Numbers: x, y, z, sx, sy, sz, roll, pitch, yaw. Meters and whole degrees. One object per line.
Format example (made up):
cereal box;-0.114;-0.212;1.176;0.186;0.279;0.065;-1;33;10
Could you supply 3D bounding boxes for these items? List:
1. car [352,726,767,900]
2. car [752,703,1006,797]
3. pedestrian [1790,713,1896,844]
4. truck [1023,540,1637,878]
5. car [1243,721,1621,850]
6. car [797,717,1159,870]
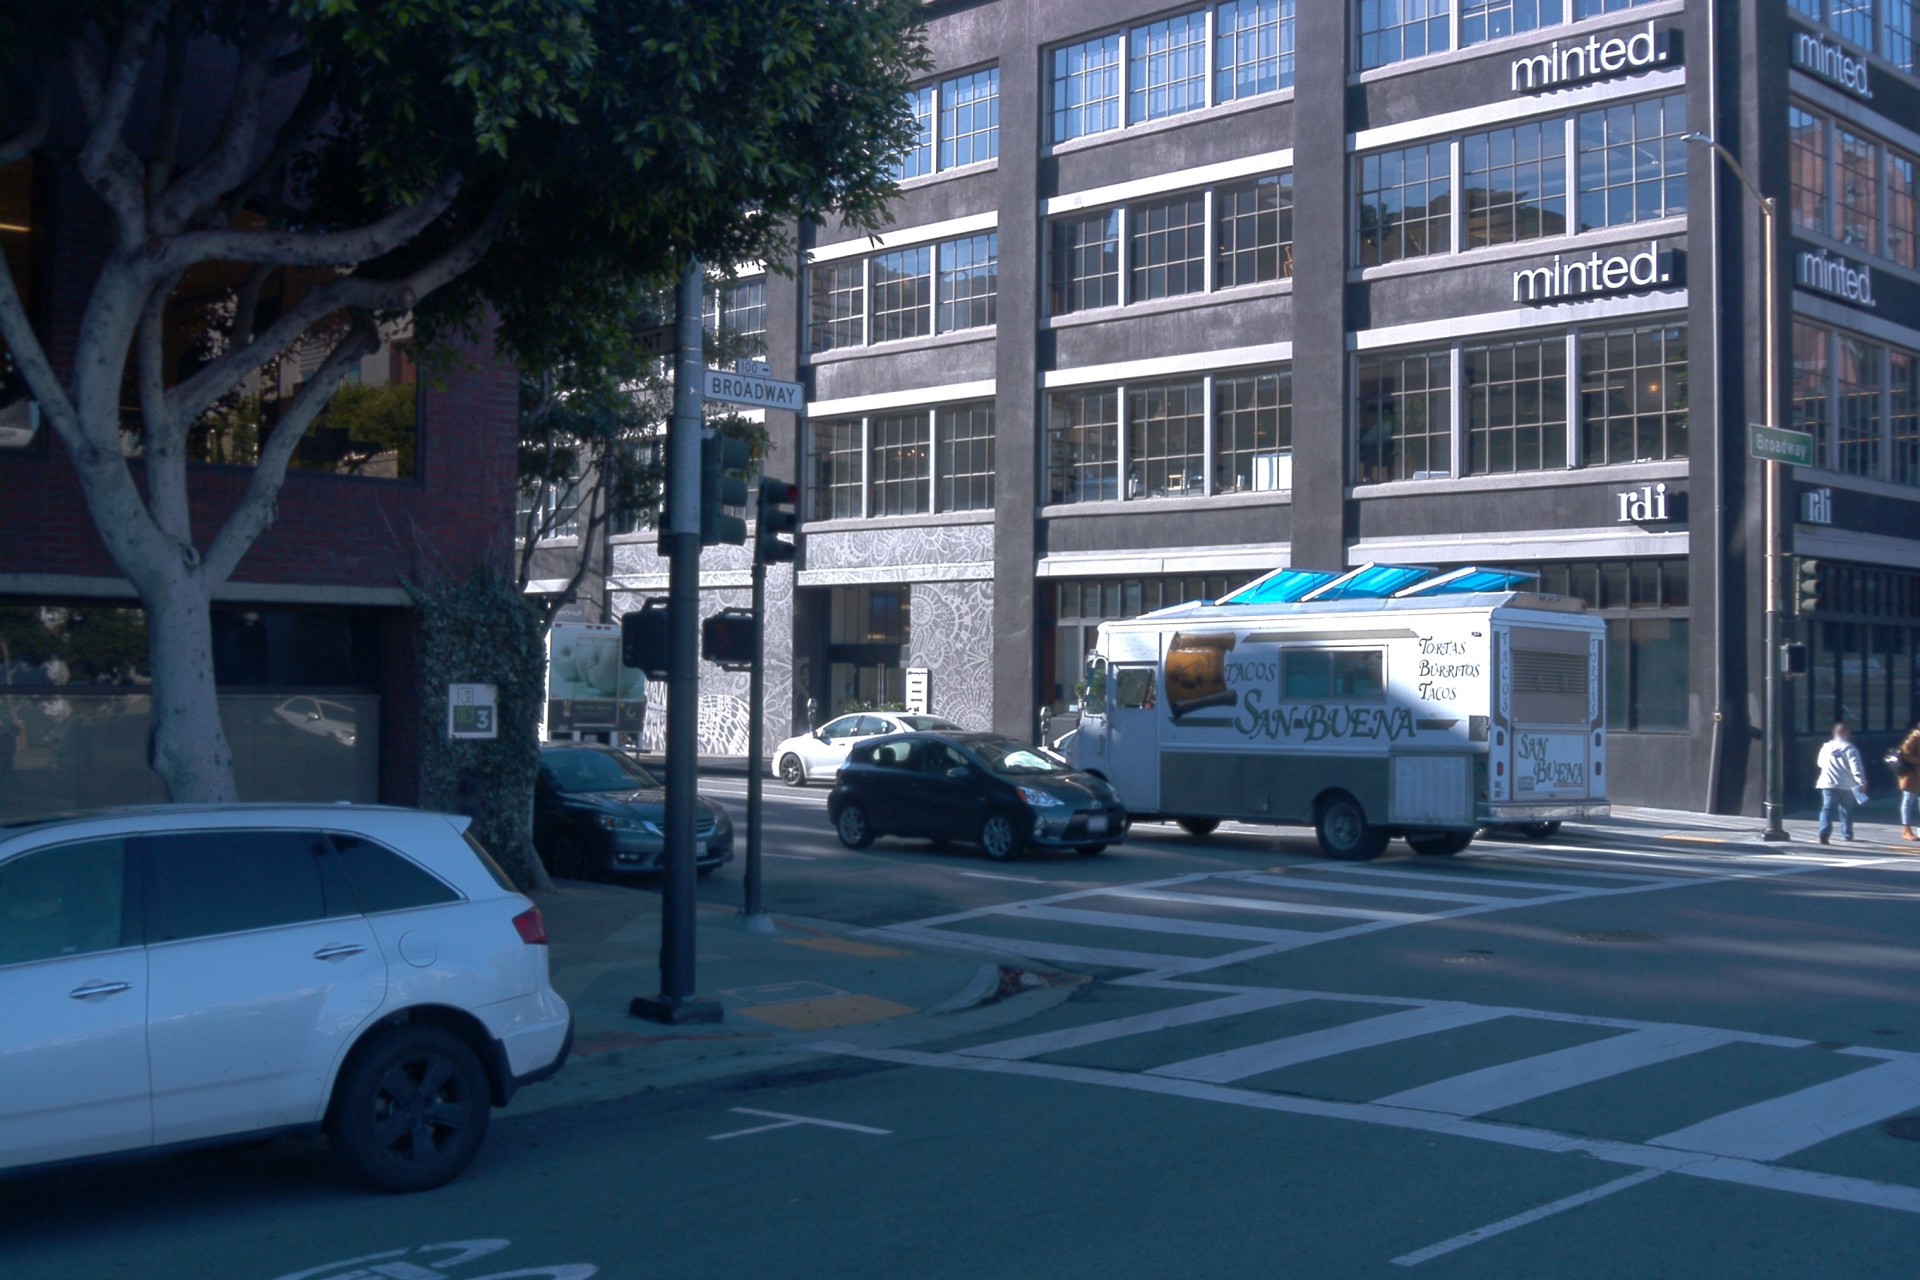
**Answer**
car;-4.548;1.818;23.086;4.856;1.550;2.094;0;-1;44
car;-1.531;1.954;37.880;2.124;1.480;4.495;2;-1;-44
pedestrian;11.983;1.850;28.173;1.039;1.690;1.253;0;-1;37
truck;4.368;0.756;25.867;2.965;3.621;7.191;2;-1;-42
car;6.610;1.982;29.464;2.162;1.510;4.831;2;-1;-44
car;0.158;1.765;24.960;2.060;1.550;4.059;2;-1;-45
